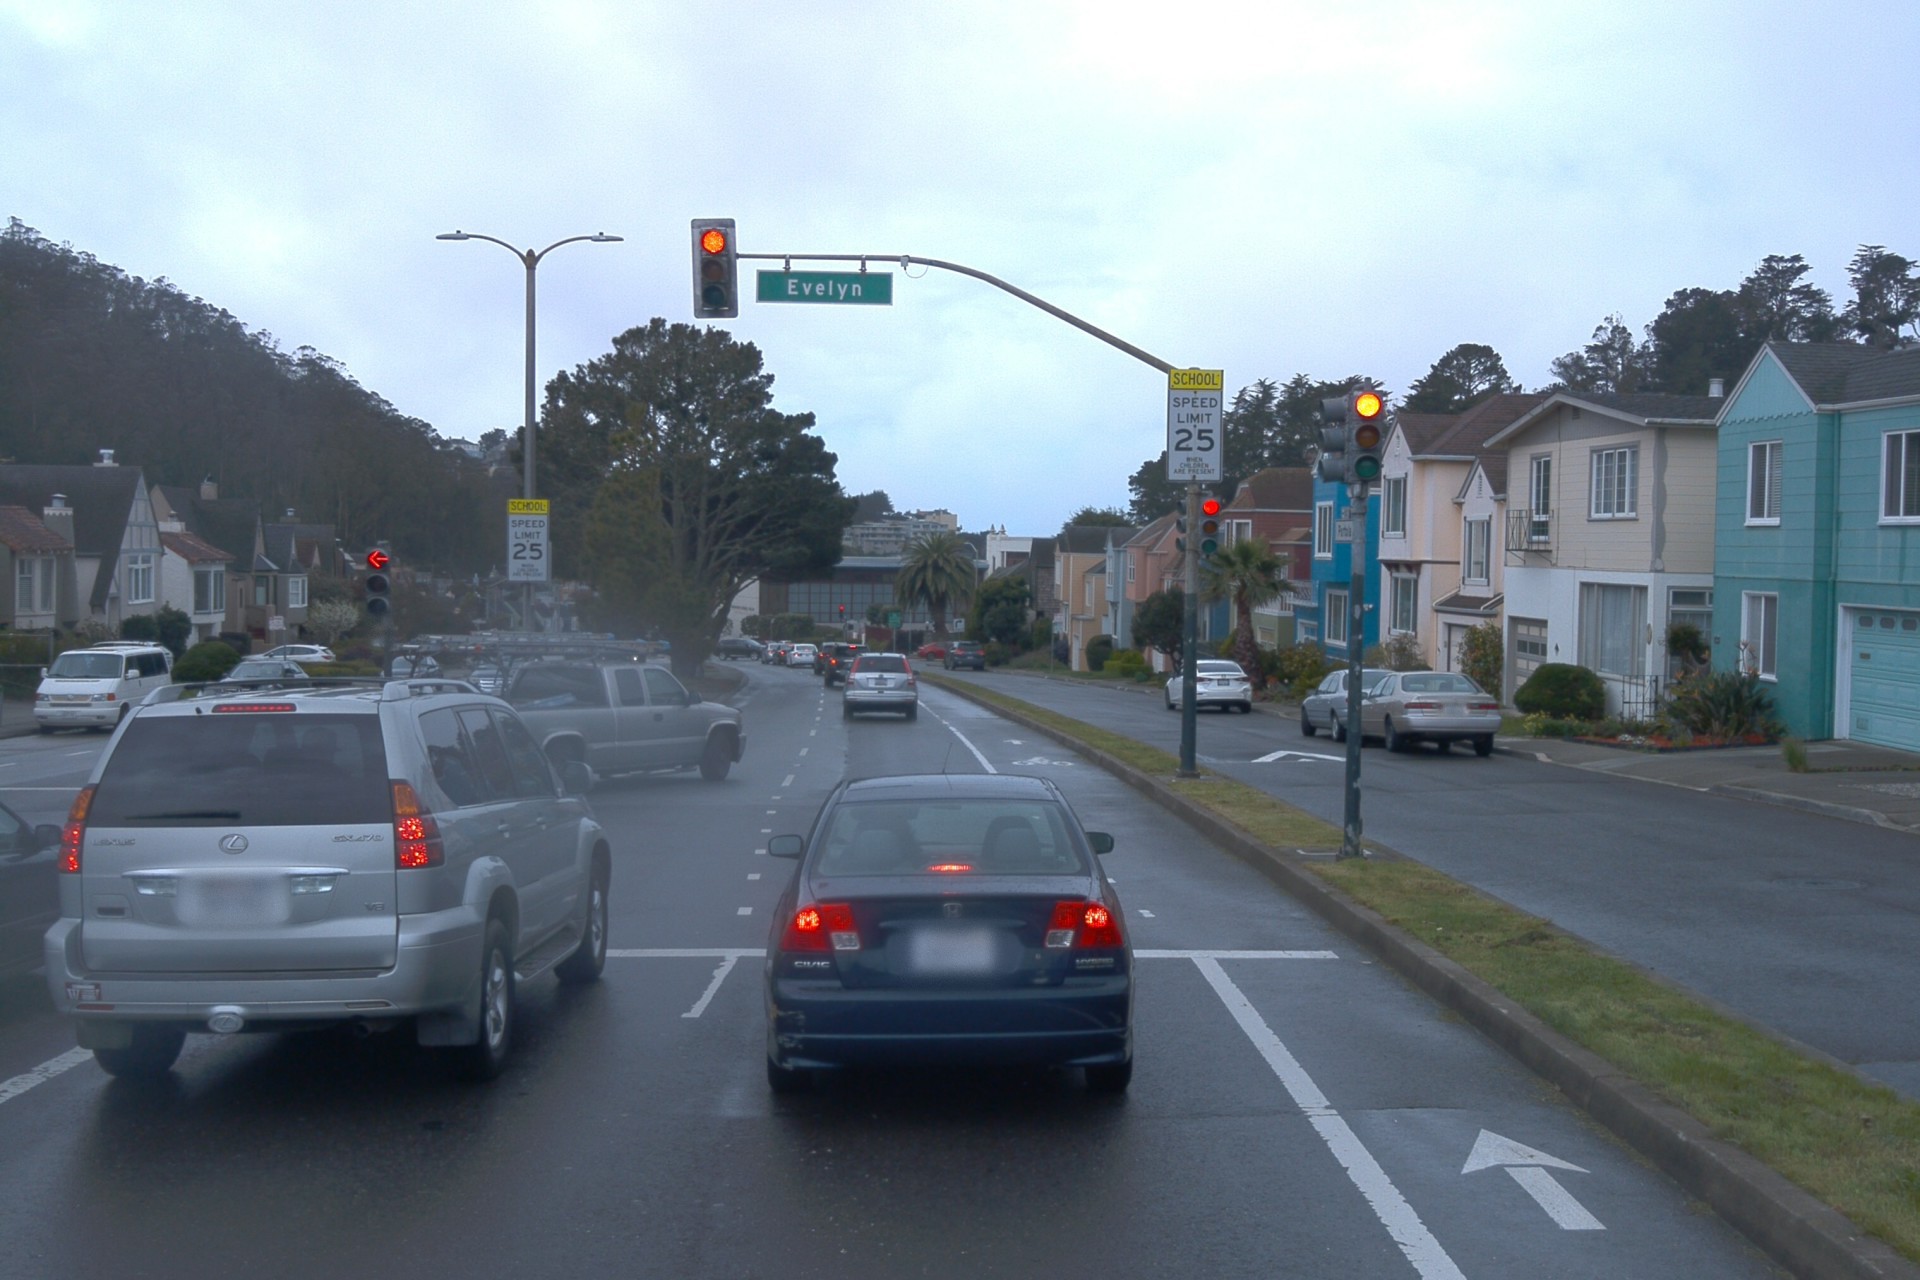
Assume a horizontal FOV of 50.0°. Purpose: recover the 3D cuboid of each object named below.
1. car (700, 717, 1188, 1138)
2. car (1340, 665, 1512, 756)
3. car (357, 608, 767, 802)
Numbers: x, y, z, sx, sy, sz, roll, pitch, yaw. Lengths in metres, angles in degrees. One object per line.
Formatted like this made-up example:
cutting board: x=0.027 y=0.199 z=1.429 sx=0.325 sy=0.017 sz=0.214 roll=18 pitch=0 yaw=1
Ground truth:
car: x=-0.107 y=1.255 z=10.546 sx=2.004 sy=1.570 sz=4.164 roll=0 pitch=0 yaw=-1
car: x=8.081 y=1.183 z=36.133 sx=1.755 sy=1.440 sz=4.469 roll=0 pitch=0 yaw=-4
car: x=-5.216 y=0.787 z=28.140 sx=2.429 sy=2.350 sz=5.983 roll=0 pitch=0 yaw=25
